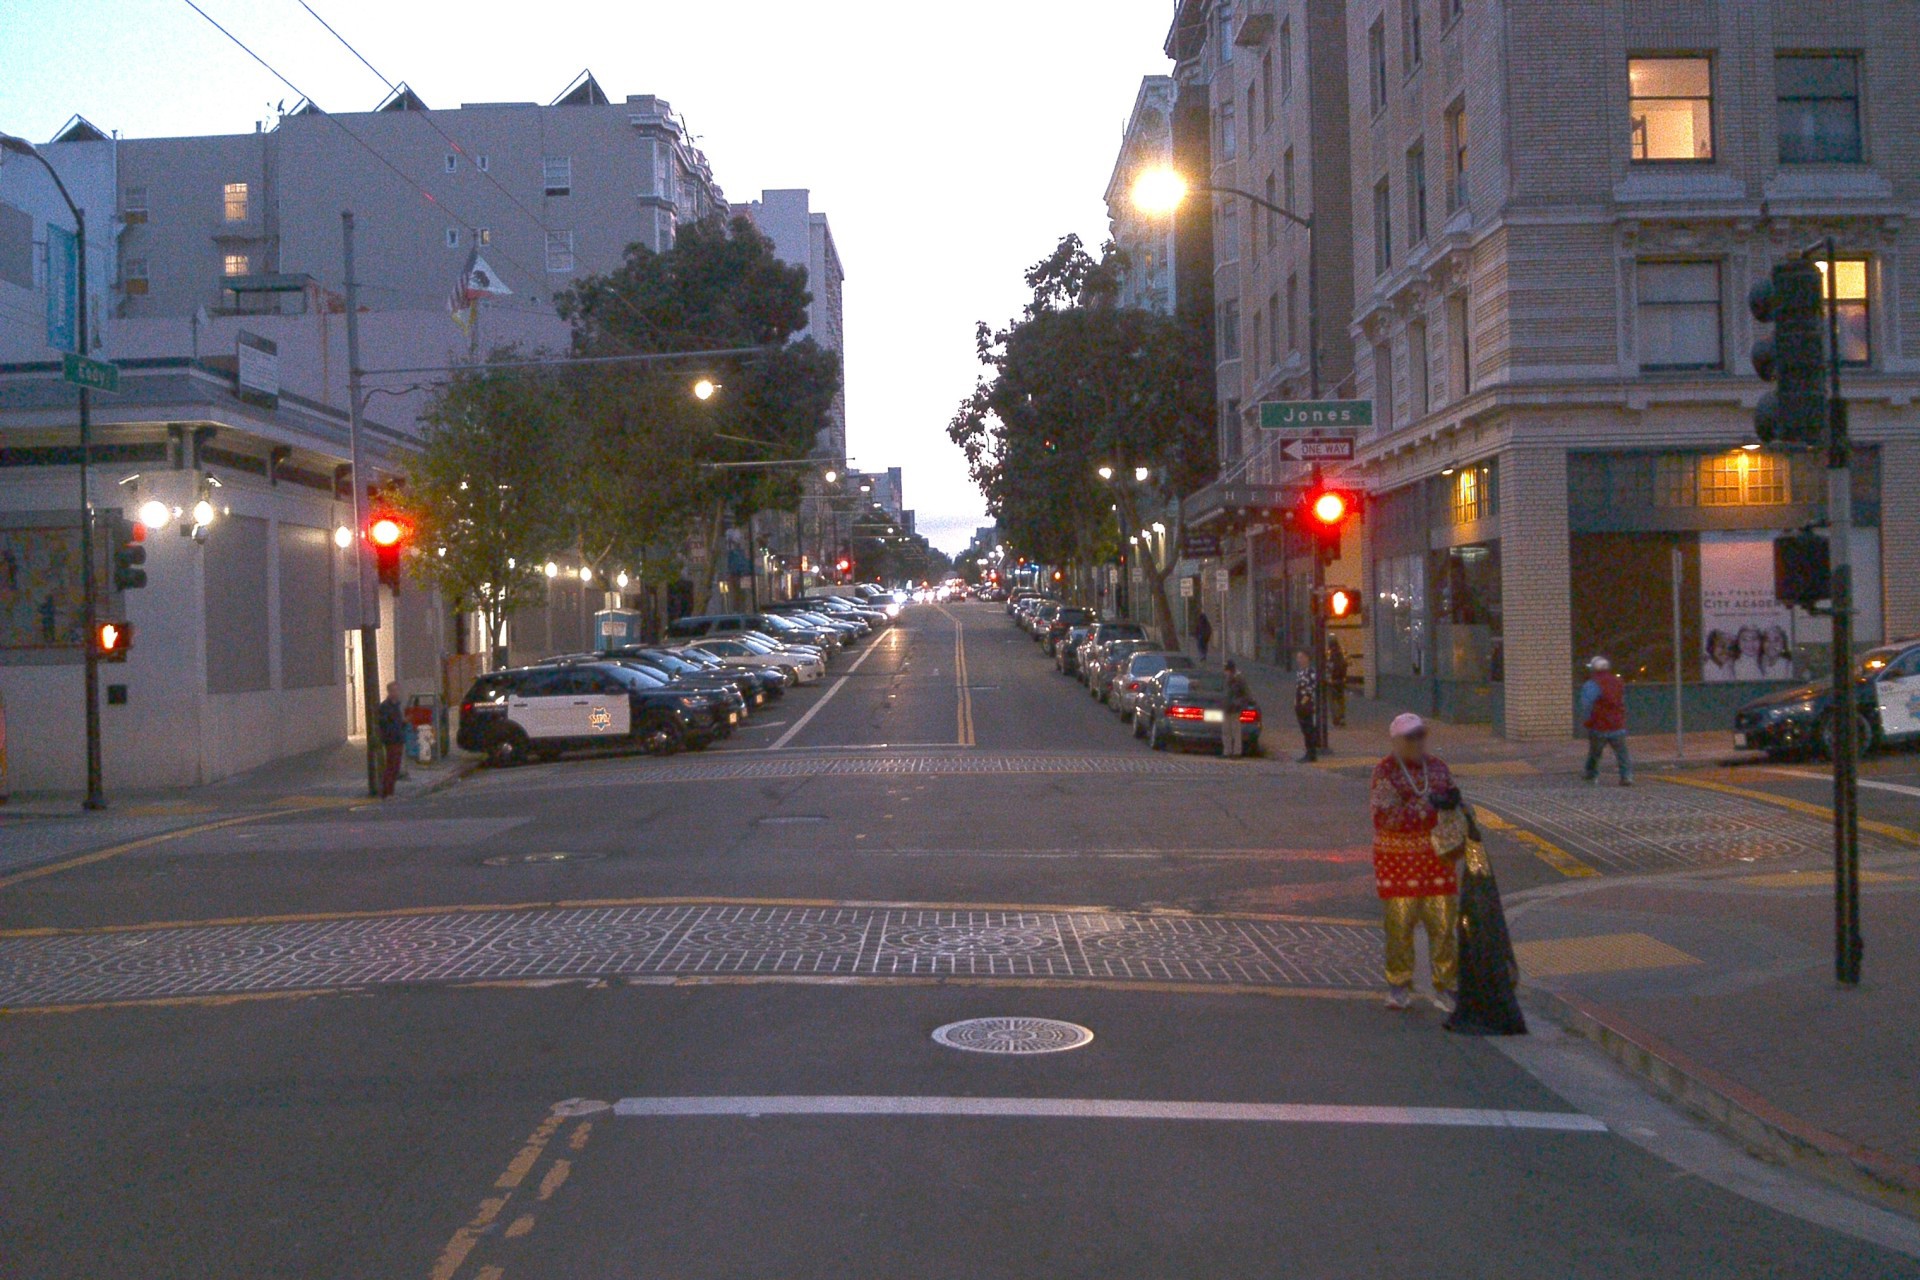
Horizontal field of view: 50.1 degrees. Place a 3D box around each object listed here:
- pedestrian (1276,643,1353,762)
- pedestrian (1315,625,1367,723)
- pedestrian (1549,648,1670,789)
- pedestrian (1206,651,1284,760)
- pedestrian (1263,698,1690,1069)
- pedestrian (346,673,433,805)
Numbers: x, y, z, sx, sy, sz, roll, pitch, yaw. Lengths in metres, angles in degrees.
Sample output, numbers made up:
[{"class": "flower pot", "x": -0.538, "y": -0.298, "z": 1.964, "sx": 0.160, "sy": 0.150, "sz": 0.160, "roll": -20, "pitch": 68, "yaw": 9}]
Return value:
[{"class": "pedestrian", "x": 5.507, "y": 0.960, "z": 31.943, "sx": 1.076, "sy": 1.820, "sz": 0.594, "roll": 0, "pitch": 1, "yaw": -2}, {"class": "pedestrian", "x": 6.977, "y": 0.616, "z": 37.715, "sx": 0.788, "sy": 1.770, "sz": 0.785, "roll": 0, "pitch": 1, "yaw": -1}, {"class": "pedestrian", "x": 7.635, "y": 0.905, "z": 24.198, "sx": 0.998, "sy": 1.590, "sz": 1.002, "roll": 0, "pitch": 1, "yaw": -11}, {"class": "pedestrian", "x": 4.604, "y": 1.048, "z": 33.256, "sx": 0.999, "sy": 1.700, "sz": 1.001, "roll": 0, "pitch": 1, "yaw": -8}, {"class": "pedestrian", "x": 2.661, "y": 1.214, "z": 11.028, "sx": 1.900, "sy": 1.710, "sz": 1.968, "roll": 0, "pitch": 1, "yaw": 4}, {"class": "pedestrian", "x": -8.577, "y": 1.478, "z": 30.923, "sx": 1.099, "sy": 1.930, "sz": 0.689, "roll": 0, "pitch": 1, "yaw": 1}]
